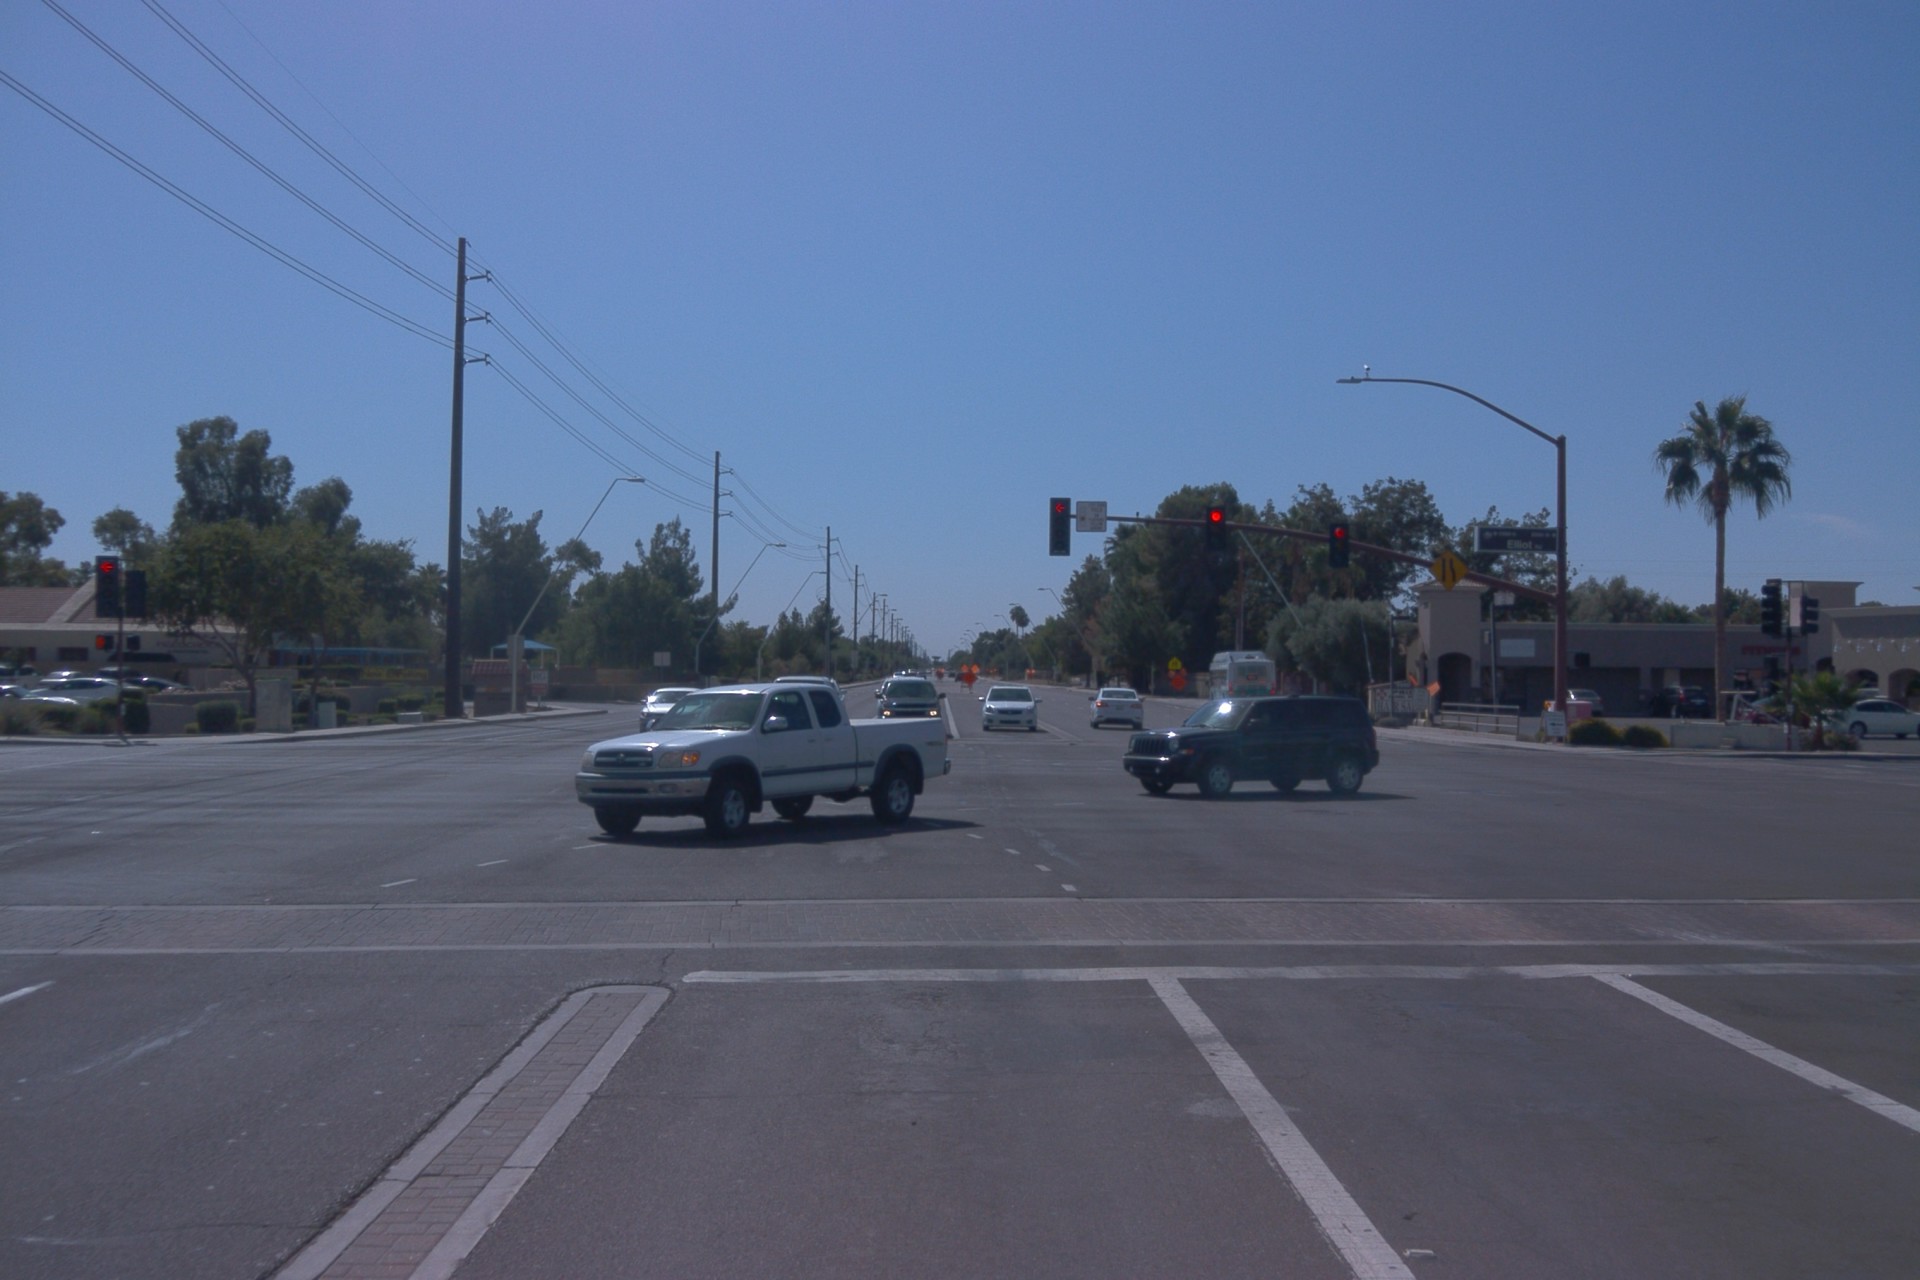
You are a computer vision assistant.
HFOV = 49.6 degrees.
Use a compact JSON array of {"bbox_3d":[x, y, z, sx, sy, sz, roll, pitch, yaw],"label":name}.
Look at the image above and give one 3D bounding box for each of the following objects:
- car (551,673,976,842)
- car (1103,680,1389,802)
[{"bbox_3d":[-2.313,1.368,26.250,2.314,1.900,5.535,-1,-1,35],"label":"car"},{"bbox_3d":[4.724,1.601,34.224,4.338,1.880,2.044,1,-1,-31],"label":"car"}]
